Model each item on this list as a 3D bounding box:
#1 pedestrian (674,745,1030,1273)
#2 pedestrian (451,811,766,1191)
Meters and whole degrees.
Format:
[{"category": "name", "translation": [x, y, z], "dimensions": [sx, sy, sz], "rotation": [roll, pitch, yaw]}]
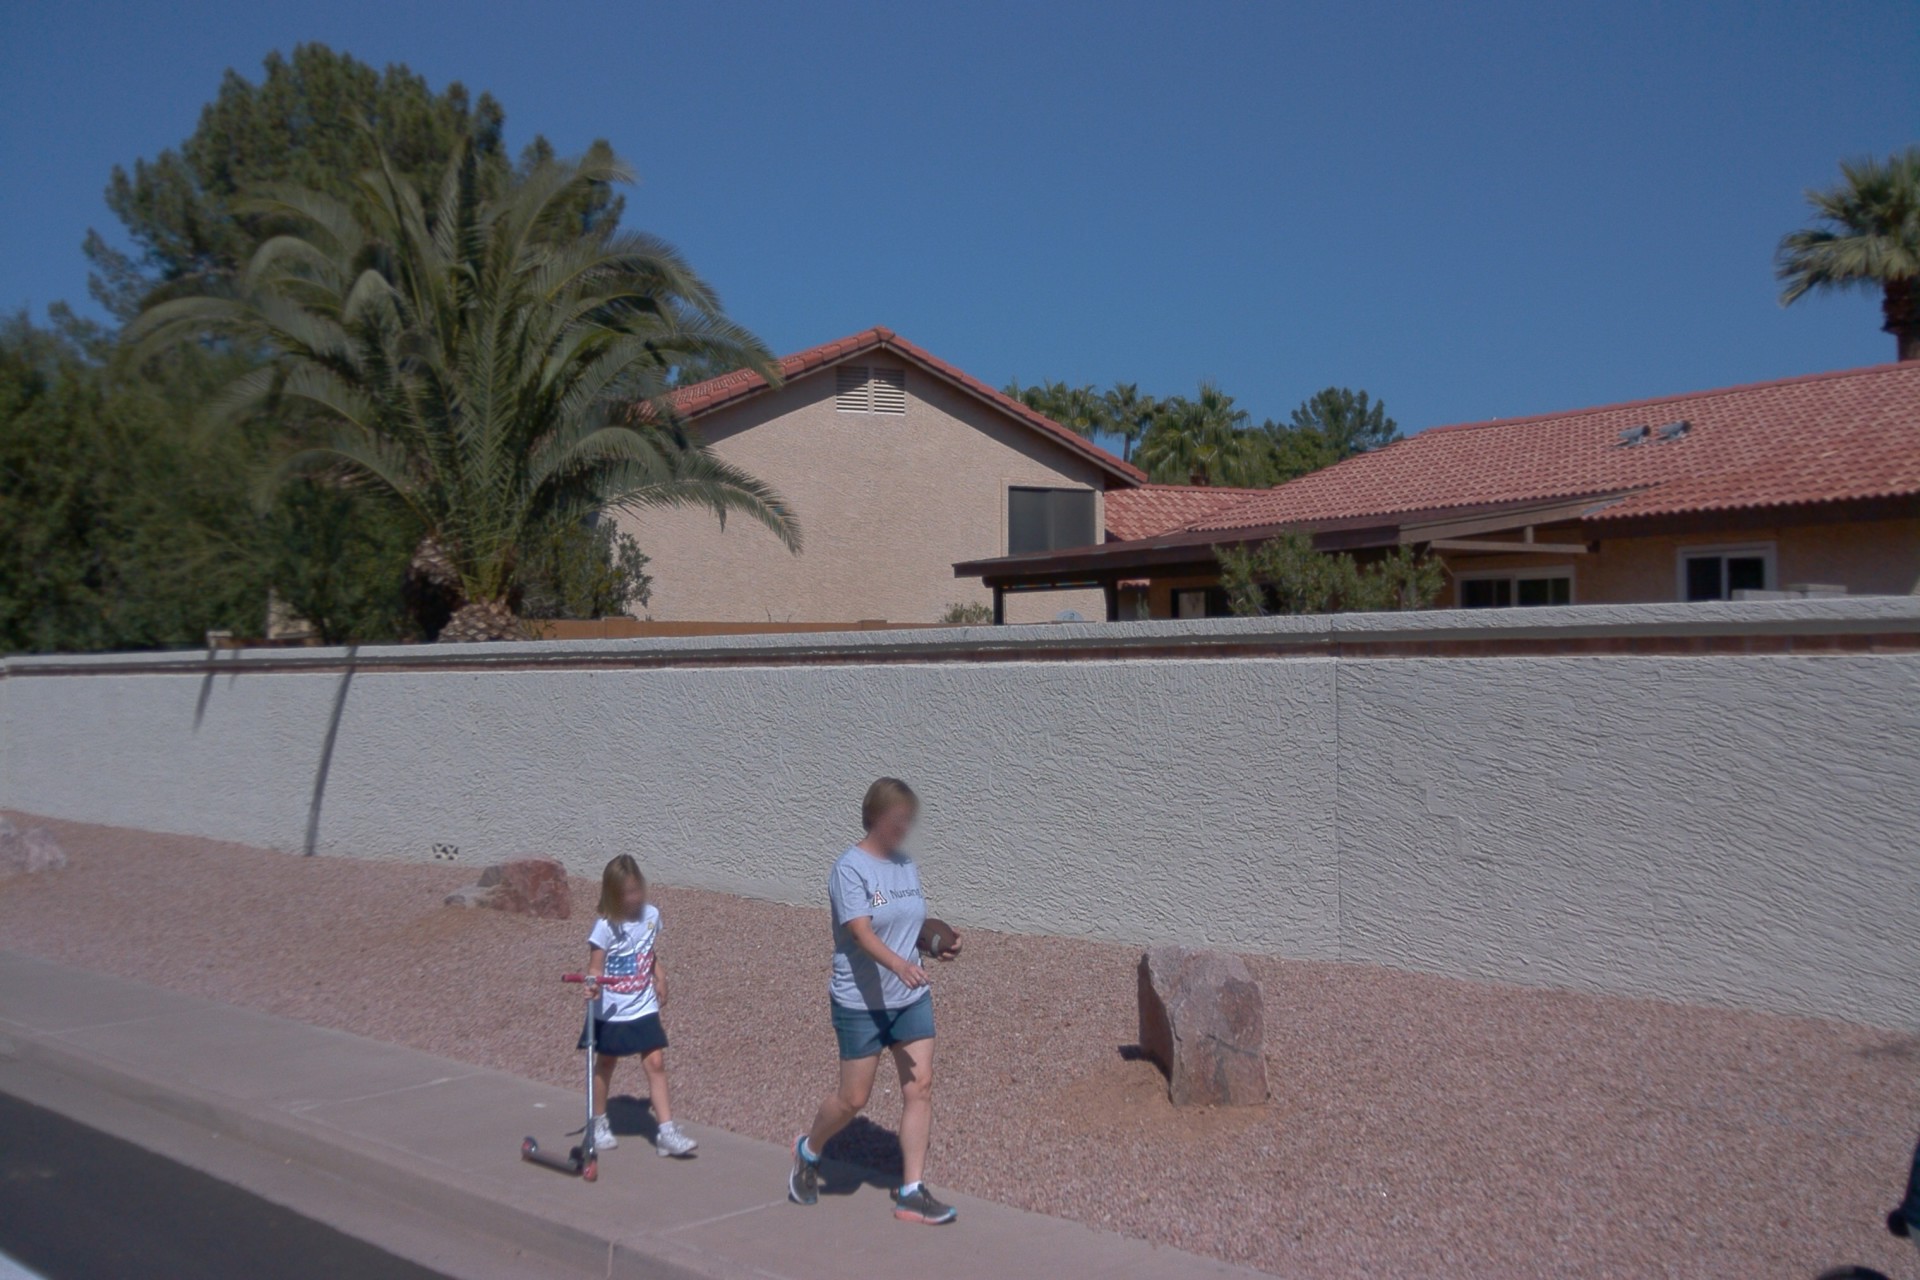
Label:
[{"category": "pedestrian", "translation": [-0.422, 1.330, 7.960], "dimensions": [0.878, 1.800, 1.068], "rotation": [1, -1, -43]}, {"category": "pedestrian", "translation": [-1.549, 1.523, 9.086], "dimensions": [0.991, 1.440, 1.009], "rotation": [1, -1, -38]}]
